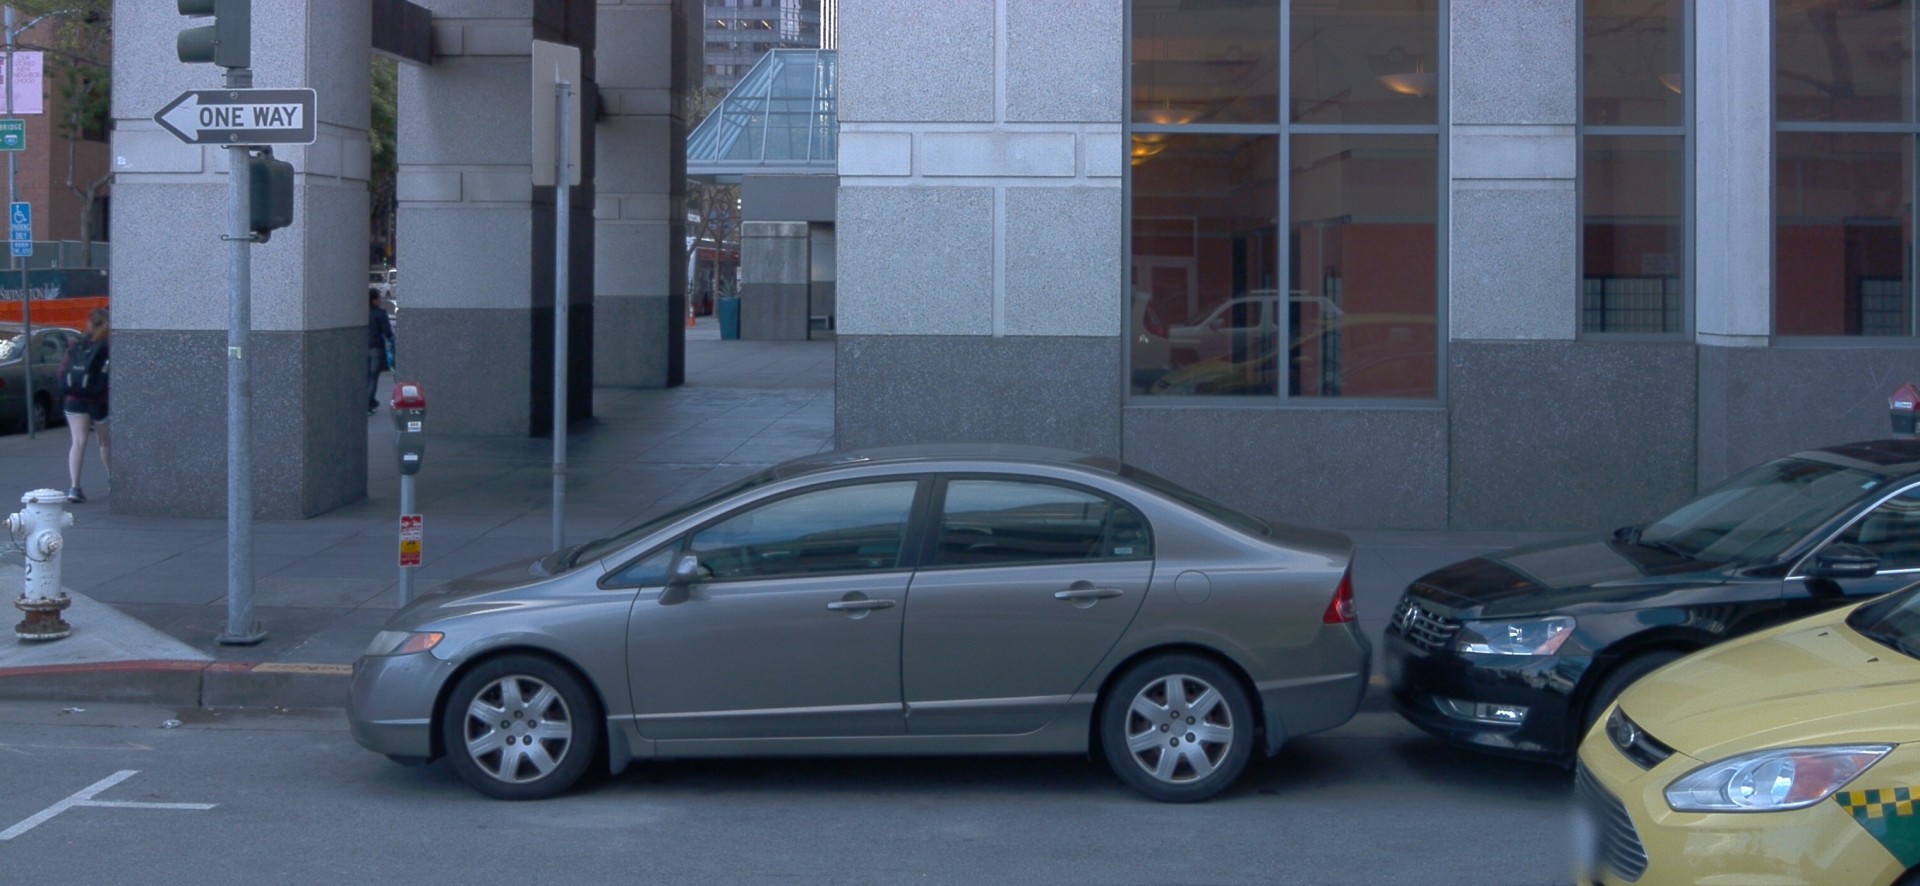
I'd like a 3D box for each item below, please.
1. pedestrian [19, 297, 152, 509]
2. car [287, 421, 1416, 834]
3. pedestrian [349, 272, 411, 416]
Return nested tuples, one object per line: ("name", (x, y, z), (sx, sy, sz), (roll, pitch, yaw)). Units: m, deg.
("pedestrian", (-7.077, -0.348, 16.737), (0.720, 1.649, 0.900), (0, 1, -2))
("car", (-0.435, 0.723, 9.271), (4.505, 1.457, 2.063), (0, 4, -1))
("pedestrian", (-7.487, -1.297, 26.665), (0.713, 1.810, 0.741), (0, 1, -11))
